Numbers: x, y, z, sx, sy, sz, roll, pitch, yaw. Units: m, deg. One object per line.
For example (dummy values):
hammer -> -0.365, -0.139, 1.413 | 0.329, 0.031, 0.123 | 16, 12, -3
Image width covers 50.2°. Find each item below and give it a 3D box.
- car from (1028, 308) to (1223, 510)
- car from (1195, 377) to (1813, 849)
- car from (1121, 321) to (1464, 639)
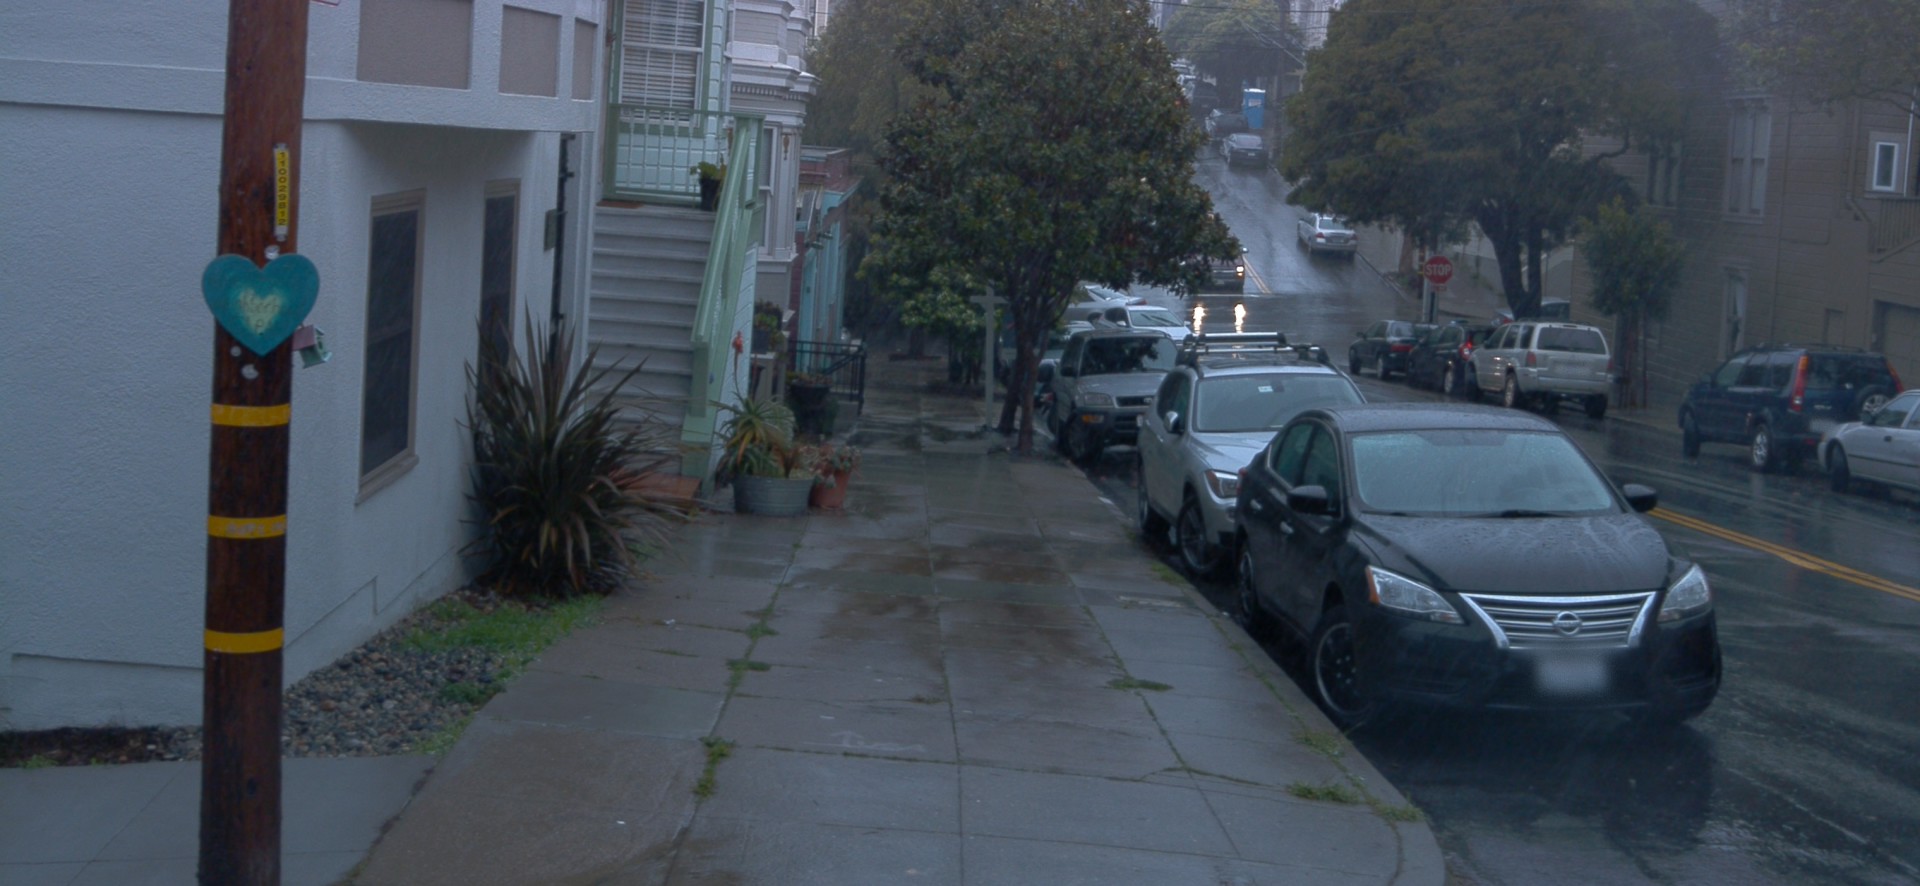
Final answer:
car -> 2.052, -0.575, 27.016 | 2.074, 2.139, 5.248 | 0, 6, -1
car -> 2.649, 0.677, 11.276 | 2.060, 1.691, 4.595 | 0, 6, -2
car -> 2.484, 0.136, 16.410 | 1.847, 1.971, 4.261 | 0, 6, -3
